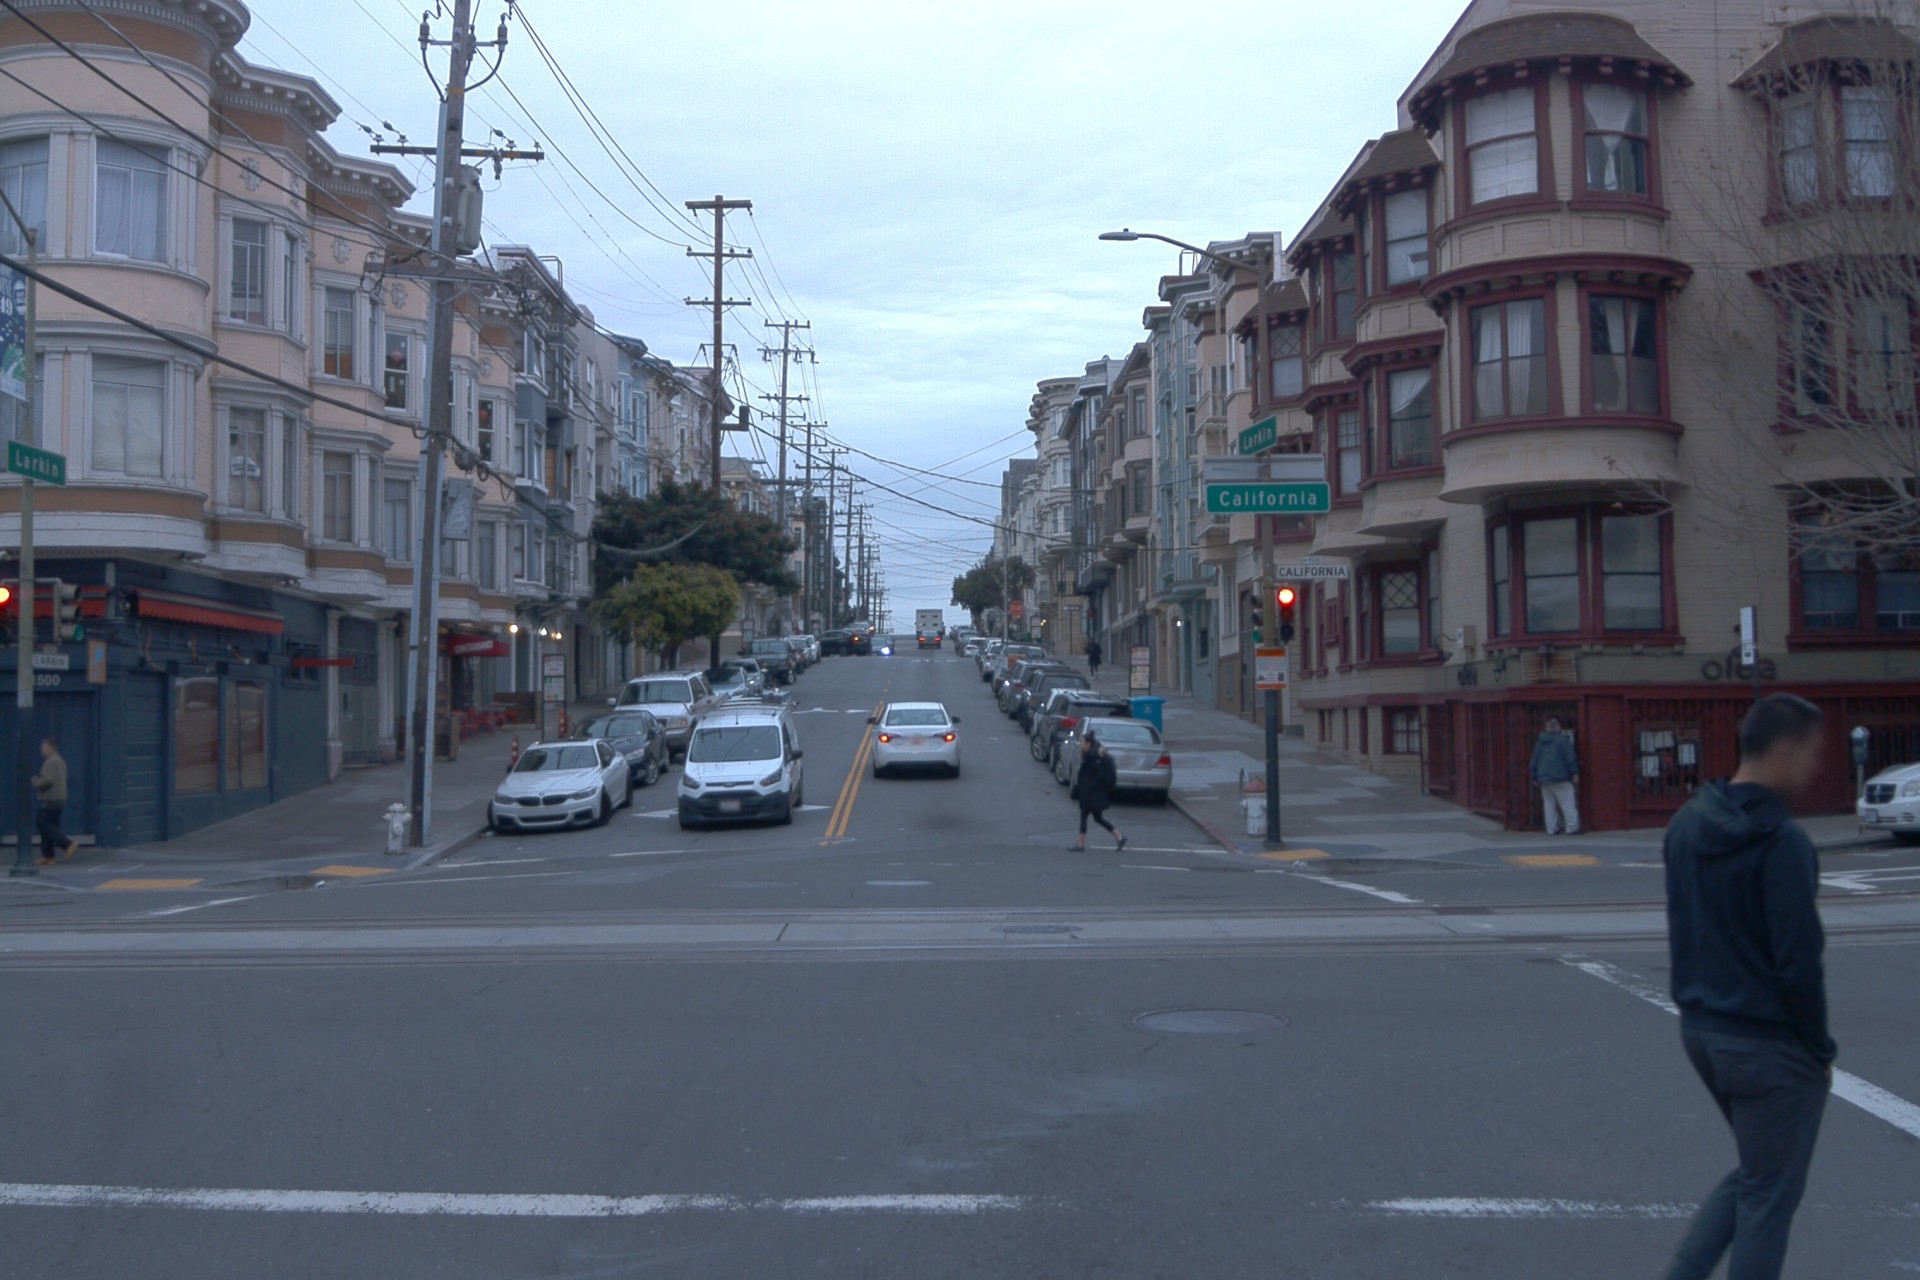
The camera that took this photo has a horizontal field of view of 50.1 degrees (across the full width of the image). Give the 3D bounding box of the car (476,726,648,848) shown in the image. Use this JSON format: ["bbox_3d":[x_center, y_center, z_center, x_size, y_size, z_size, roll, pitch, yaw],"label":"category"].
[{"bbox_3d":[-6.813,2.479,35.707,2.150,1.707,4.680,0,1,-1],"label":"car"}]

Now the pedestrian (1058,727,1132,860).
[{"bbox_3d":[1.922,2.170,29.295,0.943,1.820,0.722,0,1,-5],"label":"pedestrian"}]

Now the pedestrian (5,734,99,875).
[{"bbox_3d":[-12.782,2.303,28.967,0.950,1.900,0.786,0,1,0],"label":"pedestrian"}]

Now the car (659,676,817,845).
[{"bbox_3d":[-3.635,1.928,34.530,2.196,2.490,4.690,0,1,-1],"label":"car"}]

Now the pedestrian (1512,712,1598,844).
[{"bbox_3d":[8.751,2.013,30.236,0.919,1.830,0.902,1,1,40],"label":"pedestrian"}]

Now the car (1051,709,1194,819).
[{"bbox_3d":[2.936,2.240,38.182,2.108,1.700,4.470,0,1,-2],"label":"car"}]
